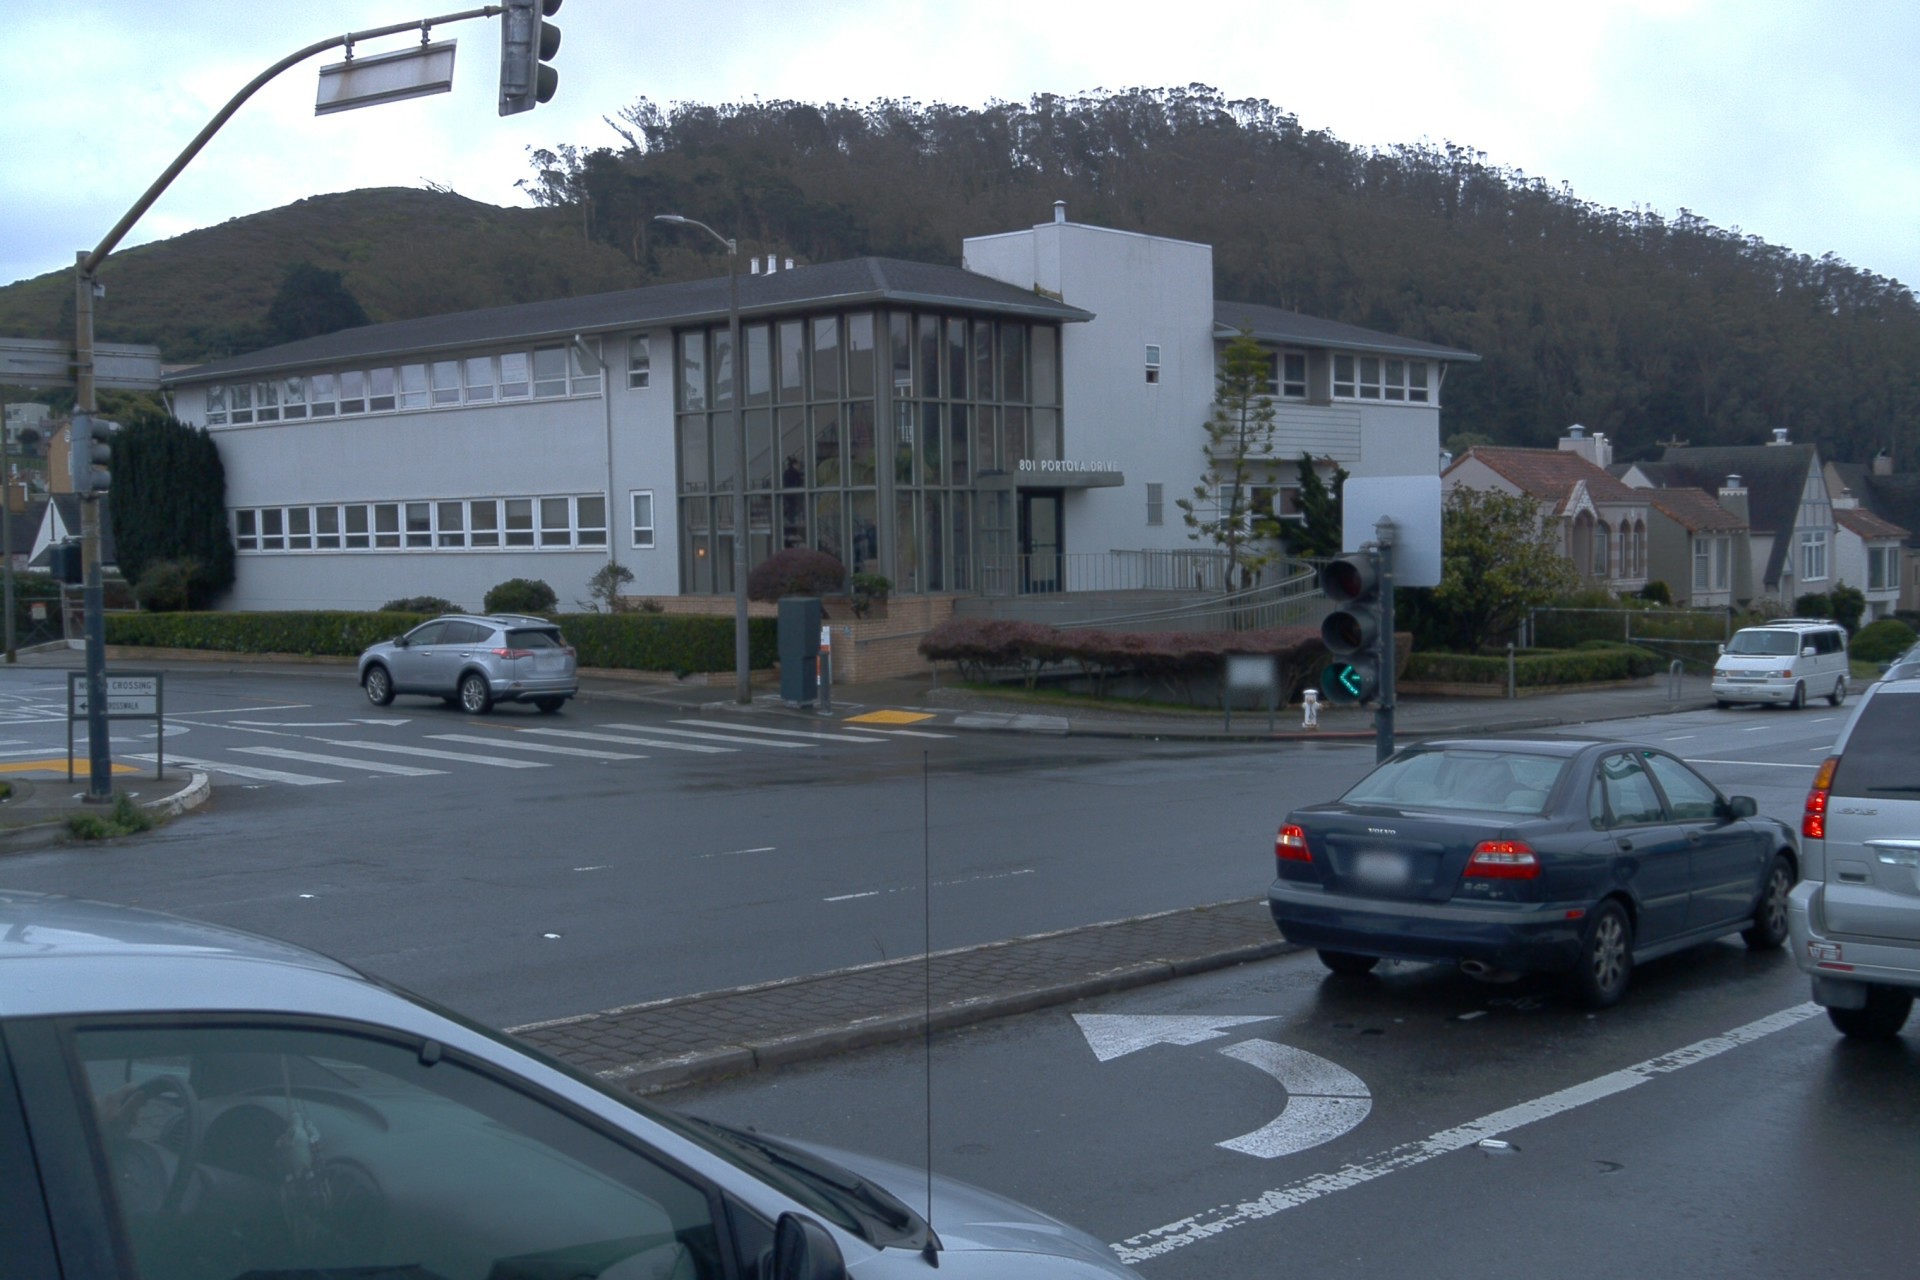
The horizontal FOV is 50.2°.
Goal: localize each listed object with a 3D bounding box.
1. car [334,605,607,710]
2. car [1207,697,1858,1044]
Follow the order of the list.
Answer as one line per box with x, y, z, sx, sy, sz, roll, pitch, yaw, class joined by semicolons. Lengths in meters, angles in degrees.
-8.662;0.257;36.102;4.654;1.740;2.201;1;1;37;car
3.526;1.175;12.115;1.961;1.500;4.296;1;1;42;car
